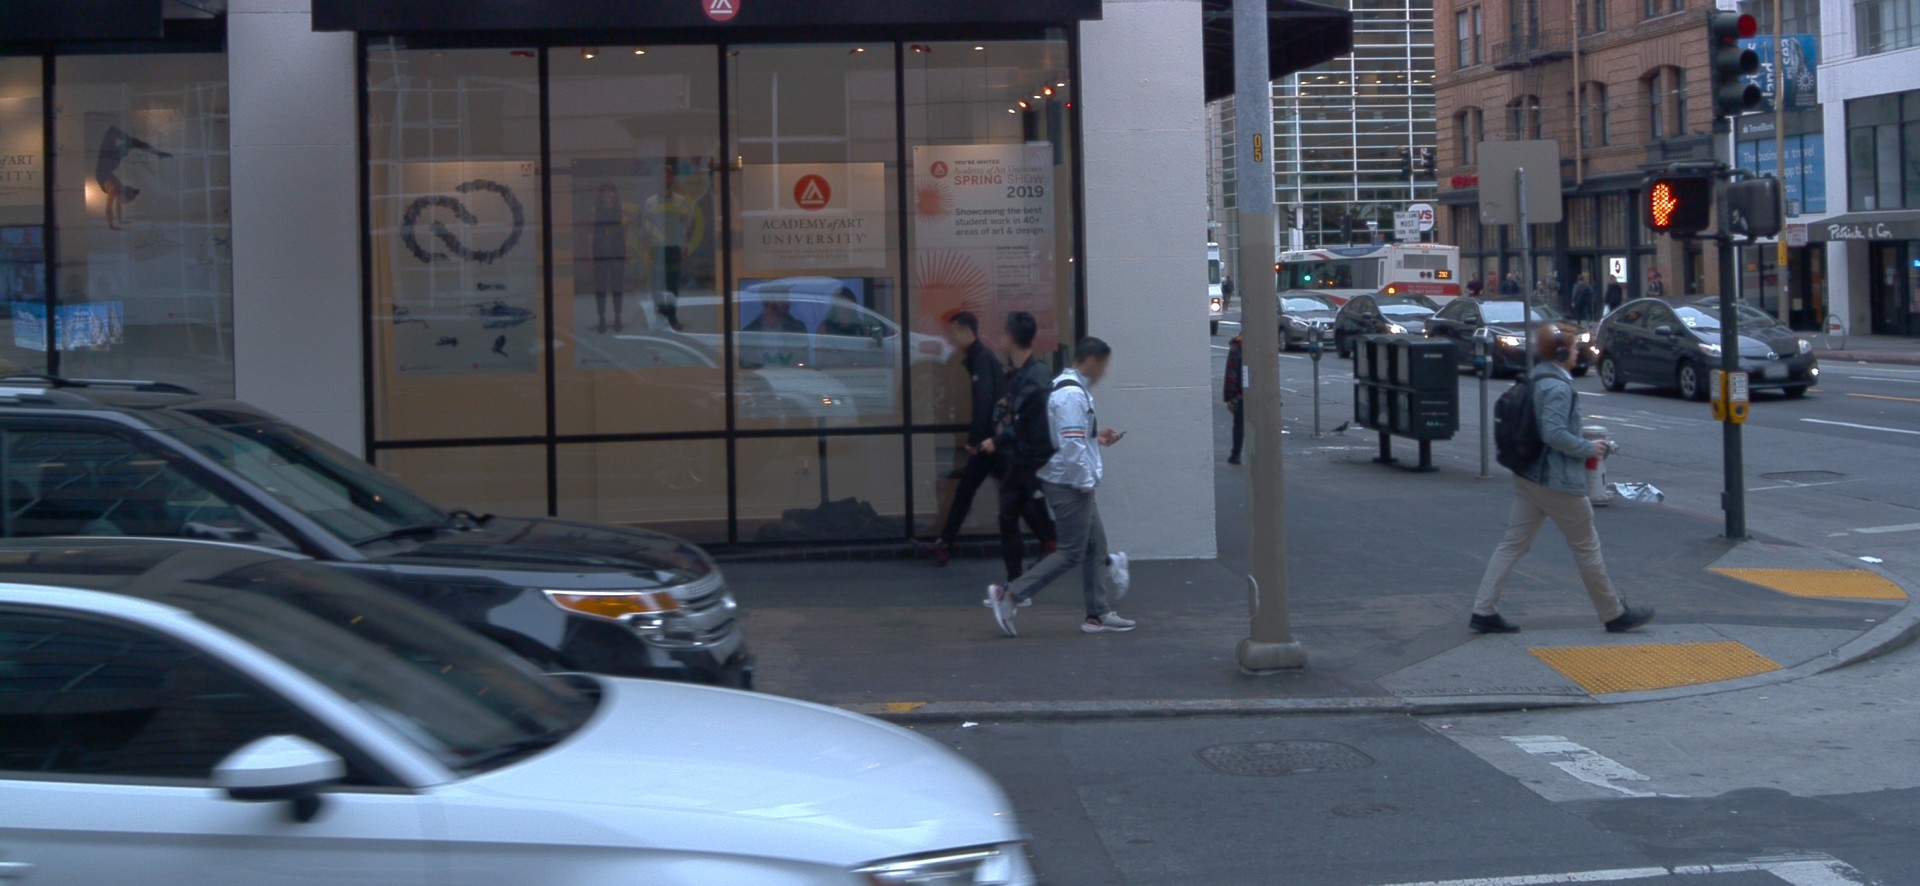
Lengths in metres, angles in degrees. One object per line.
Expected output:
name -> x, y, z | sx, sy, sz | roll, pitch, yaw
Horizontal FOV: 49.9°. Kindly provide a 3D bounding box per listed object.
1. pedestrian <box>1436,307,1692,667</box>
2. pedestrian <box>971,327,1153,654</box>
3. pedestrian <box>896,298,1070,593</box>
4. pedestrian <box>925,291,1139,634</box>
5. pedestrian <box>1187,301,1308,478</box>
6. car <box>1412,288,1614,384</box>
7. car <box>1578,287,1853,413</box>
pedestrian -> 3.346, 0.206, 11.484 | 1.166, 1.877, 0.760 | -1, 2, -6
pedestrian -> 0.565, 0.240, 11.714 | 0.964, 1.747, 0.716 | 0, 2, -3
pedestrian -> 0.162, -0.012, 13.923 | 1.131, 1.897, 0.794 | 0, 2, 1
pedestrian -> 0.425, 0.078, 12.610 | 1.185, 1.967, 0.834 | -1, 2, -7
pedestrian -> 3.039, -0.599, 21.881 | 0.852, 1.746, 1.161 | -1, 3, -18
car -> 10.085, -2.029, 38.006 | 2.075, 1.442, 4.654 | -1, 6, -6
car -> 11.099, -1.456, 30.681 | 2.064, 1.531, 4.507 | -1, 6, -6
